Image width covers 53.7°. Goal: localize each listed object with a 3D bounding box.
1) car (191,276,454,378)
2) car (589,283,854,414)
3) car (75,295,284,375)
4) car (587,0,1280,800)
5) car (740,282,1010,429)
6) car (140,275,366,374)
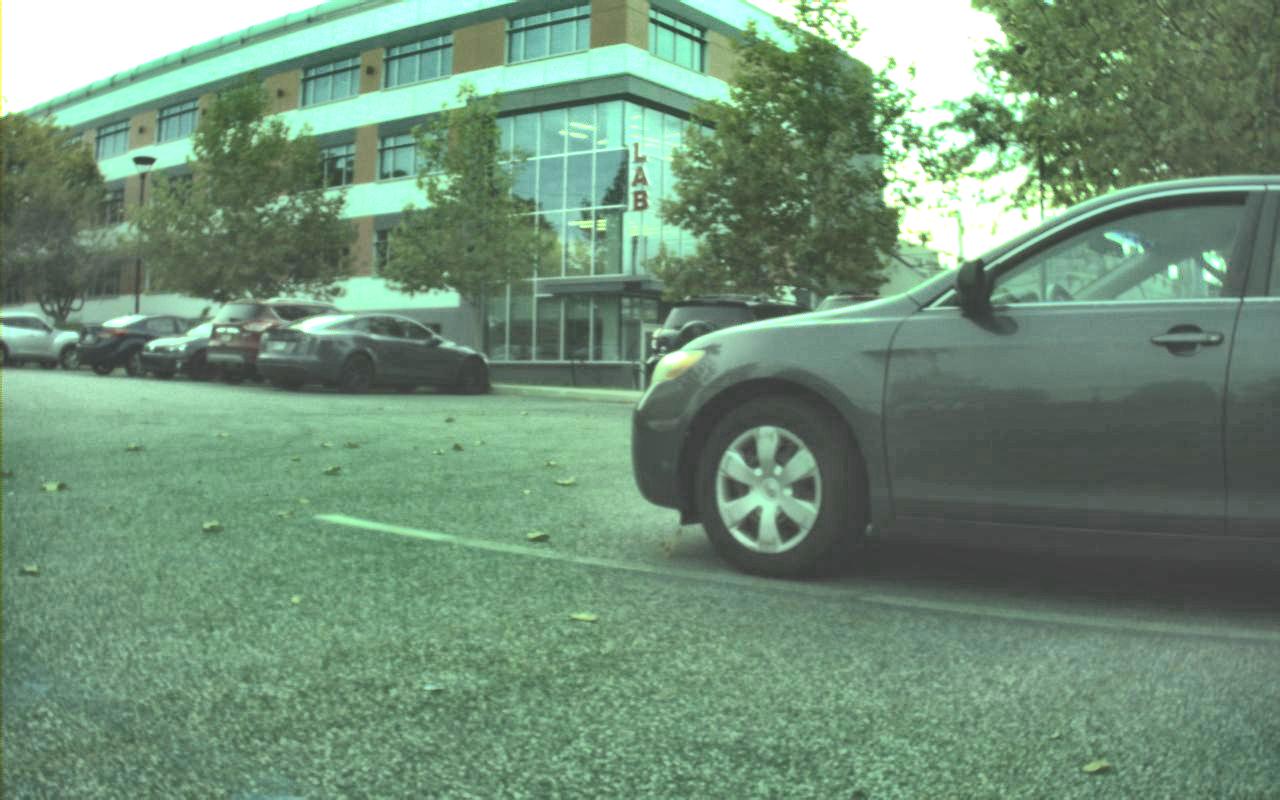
[{"bbox_3d":[-5.570,-1.200,21.647,1.965,1.636,4.500,1,2,38],"label":"car"},{"bbox_3d":[1.353,-0.710,18.377,1.986,1.647,4.601,1,1,31],"label":"car"},{"bbox_3d":[-9.689,-1.270,24.949,1.893,1.557,4.380,1,1,33],"label":"car"},{"bbox_3d":[2.161,-0.164,4.160,4.410,1.535,1.941,1,1,36],"label":"car"},{"bbox_3d":[3.333,-0.561,16.661,2.022,1.681,4.572,1,1,34],"label":"car"},{"bbox_3d":[-7.526,-1.372,23.649,1.954,1.750,4.484,1,1,28],"label":"car"}]
